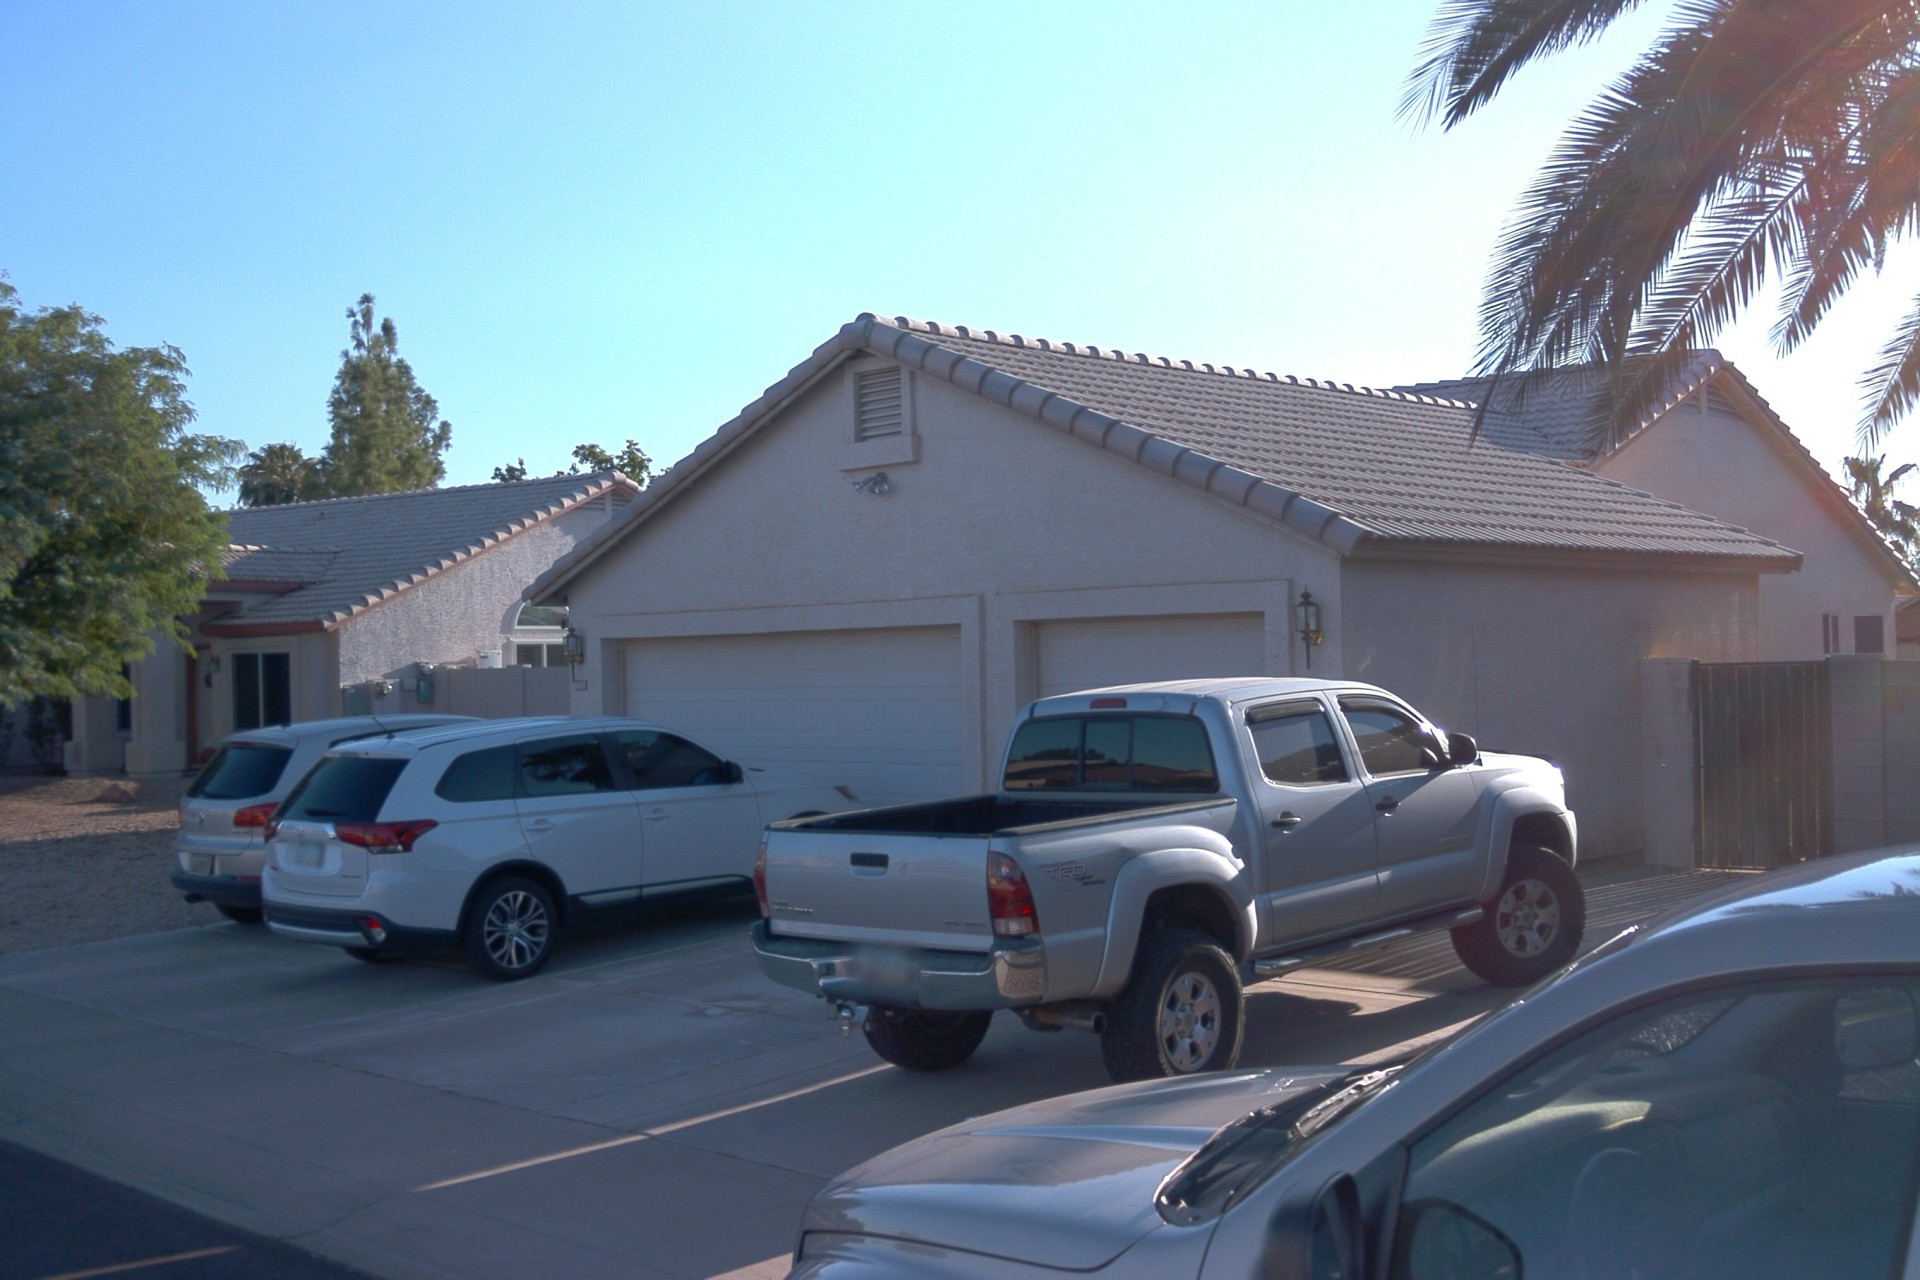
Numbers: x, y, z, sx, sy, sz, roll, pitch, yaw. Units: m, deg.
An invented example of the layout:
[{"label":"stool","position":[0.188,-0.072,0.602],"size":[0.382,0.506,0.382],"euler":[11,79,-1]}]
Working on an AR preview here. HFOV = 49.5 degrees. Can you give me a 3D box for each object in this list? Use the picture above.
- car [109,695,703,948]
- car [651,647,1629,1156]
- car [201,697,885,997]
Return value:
[{"label":"car","position":[-4.557,1.397,17.601],"size":[2.038,1.790,4.422],"euler":[-2,-1,44]},{"label":"car","position":[1.222,1.074,11.029],"size":[2.224,2.030,5.390],"euler":[-2,-1,44]},{"label":"car","position":[-2.913,1.348,15.260],"size":[2.140,1.780,4.479],"euler":[-2,-1,44]}]
